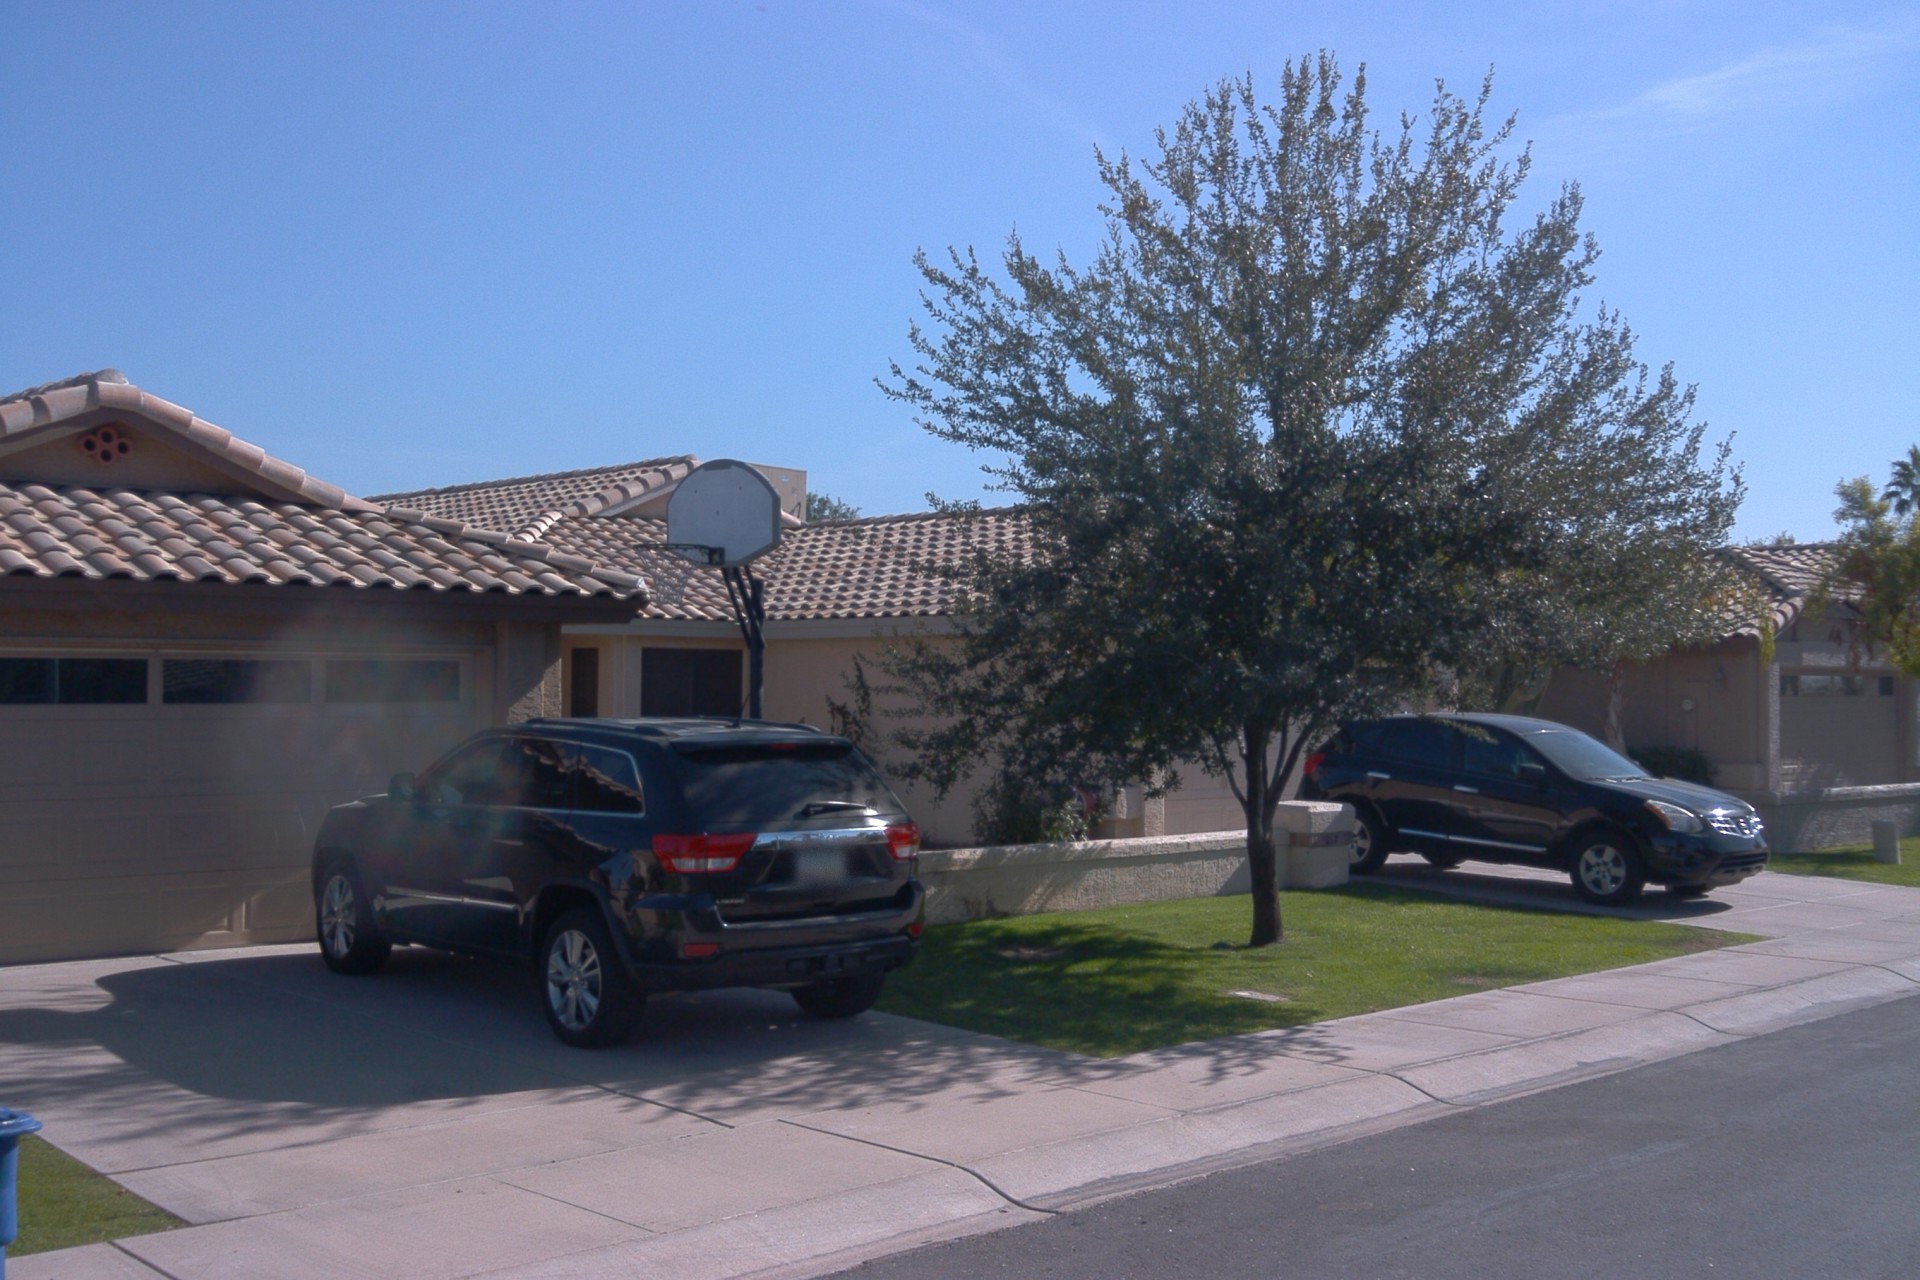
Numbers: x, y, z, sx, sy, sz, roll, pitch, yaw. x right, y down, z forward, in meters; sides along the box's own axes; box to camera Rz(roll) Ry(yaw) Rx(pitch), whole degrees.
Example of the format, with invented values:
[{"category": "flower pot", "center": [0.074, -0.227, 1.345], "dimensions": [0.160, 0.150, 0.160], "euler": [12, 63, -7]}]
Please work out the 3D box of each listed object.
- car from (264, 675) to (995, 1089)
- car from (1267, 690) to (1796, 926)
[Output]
[{"category": "car", "center": [-2.220, 1.257, 12.885], "dimensions": [2.222, 1.980, 4.698], "euler": [1, 0, -43]}, {"category": "car", "center": [5.400, 1.488, 20.036], "dimensions": [2.079, 1.880, 4.476], "euler": [1, 0, -43]}]
